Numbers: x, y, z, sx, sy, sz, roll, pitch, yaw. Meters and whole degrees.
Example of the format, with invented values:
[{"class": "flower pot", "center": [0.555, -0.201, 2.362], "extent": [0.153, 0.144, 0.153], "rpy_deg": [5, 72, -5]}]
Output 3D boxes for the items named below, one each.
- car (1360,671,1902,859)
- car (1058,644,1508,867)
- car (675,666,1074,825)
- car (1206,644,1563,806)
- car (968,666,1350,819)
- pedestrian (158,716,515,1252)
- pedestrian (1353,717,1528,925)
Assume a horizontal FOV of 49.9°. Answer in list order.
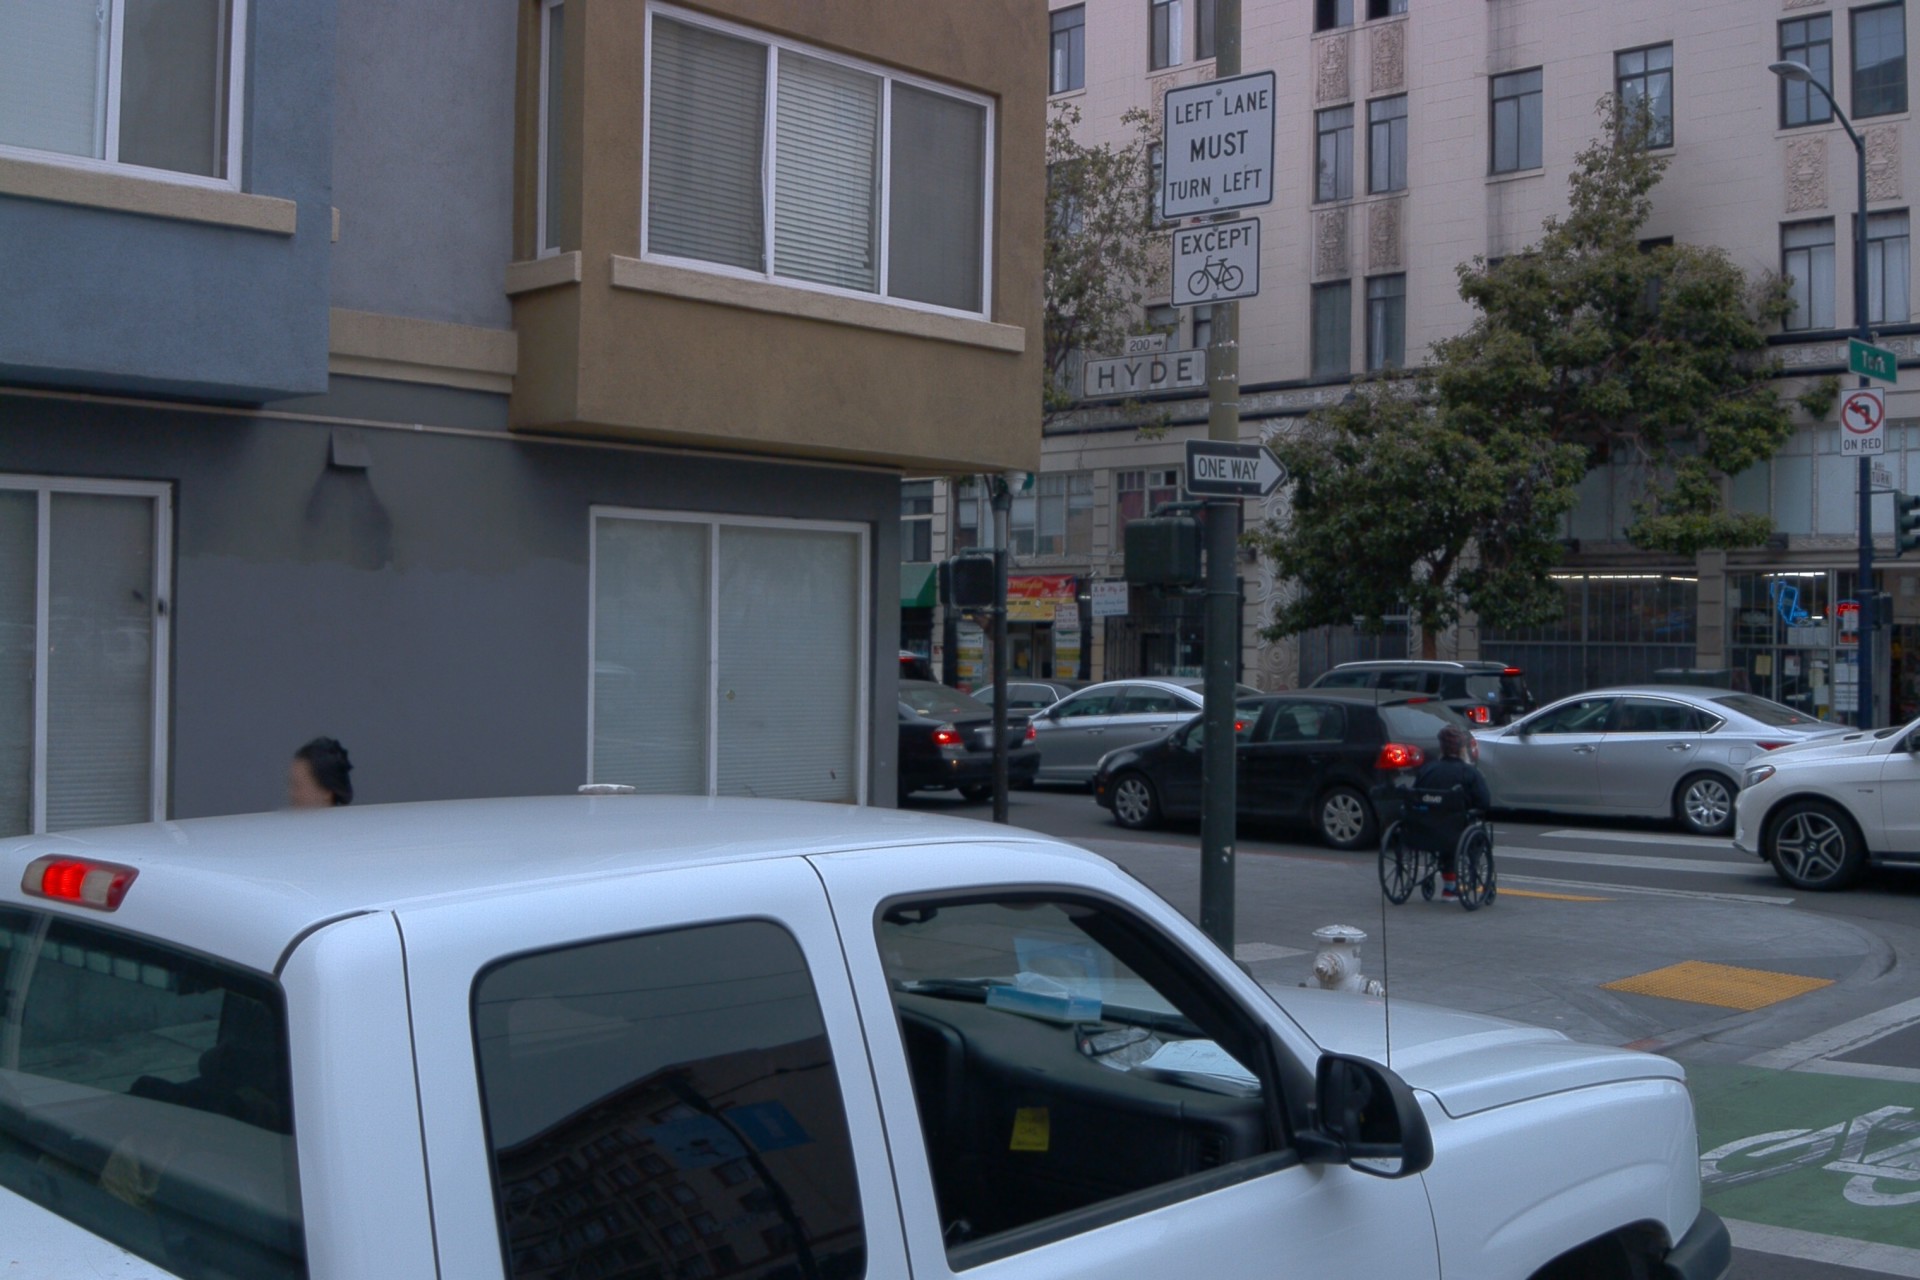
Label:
[{"class": "car", "center": [6.782, 1.172, 21.269], "extent": [2.056, 1.550, 4.909], "rpy_deg": [-1, 1, -45]}, {"class": "car", "center": [3.178, 1.053, 20.887], "extent": [1.871, 1.950, 4.194], "rpy_deg": [-1, 1, -45]}, {"class": "car", "center": [-1.126, 1.189, 25.074], "extent": [4.803, 1.600, 2.070], "rpy_deg": [1, 1, 43]}, {"class": "car", "center": [5.496, 1.032, 27.094], "extent": [1.925, 1.870, 4.231], "rpy_deg": [-1, 1, -45]}, {"class": "car", "center": [2.399, 1.197, 25.841], "extent": [1.939, 1.600, 4.599], "rpy_deg": [-1, 1, -44]}, {"class": "pedestrian", "center": [-2.359, 1.205, 7.762], "extent": [1.099, 1.760, 0.982], "rpy_deg": [-1, 1, -29]}, {"class": "pedestrian", "center": [3.503, 1.285, 15.017], "extent": [0.883, 1.370, 1.026], "rpy_deg": [1, 1, 38]}]
